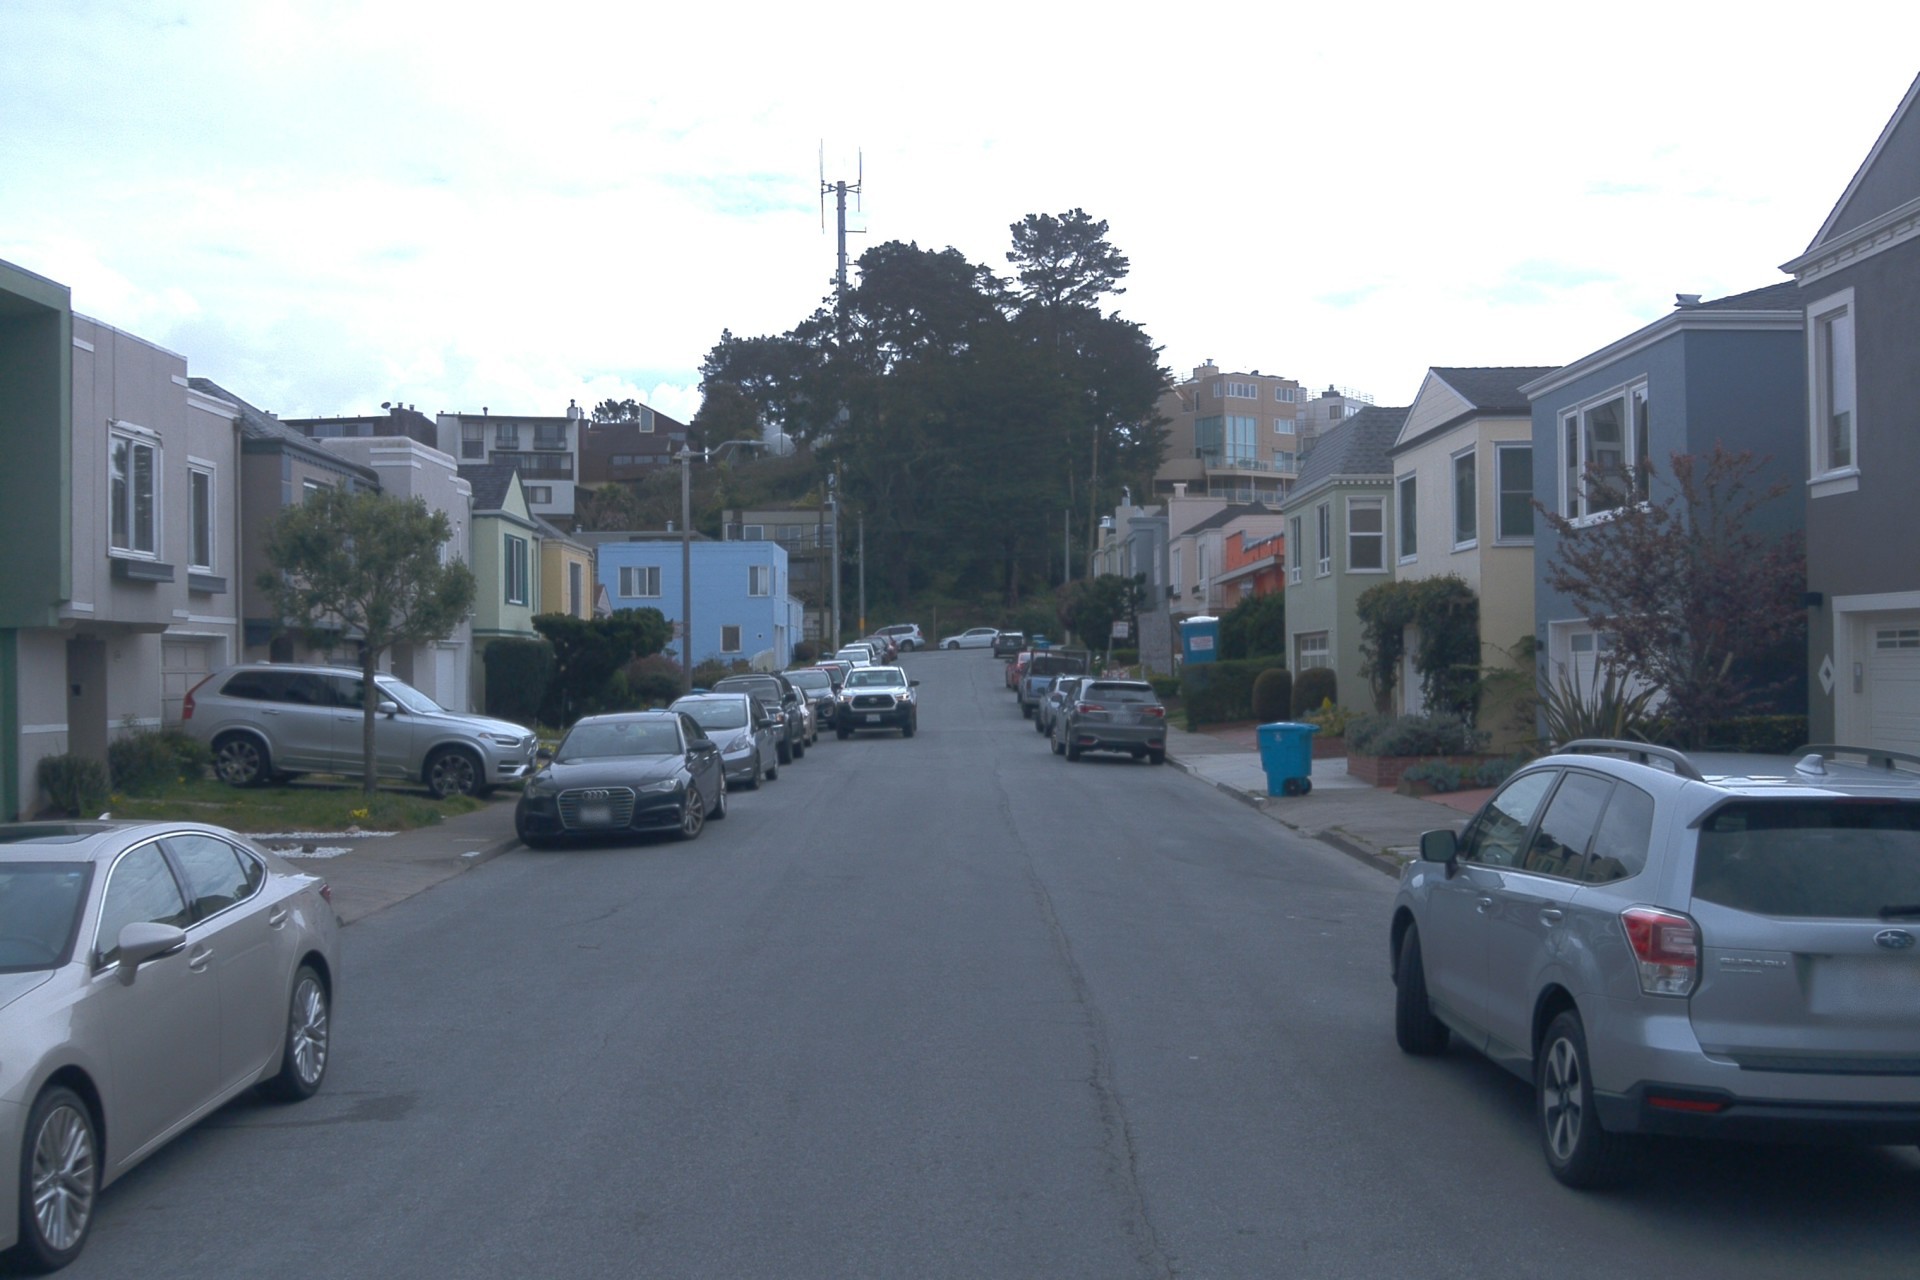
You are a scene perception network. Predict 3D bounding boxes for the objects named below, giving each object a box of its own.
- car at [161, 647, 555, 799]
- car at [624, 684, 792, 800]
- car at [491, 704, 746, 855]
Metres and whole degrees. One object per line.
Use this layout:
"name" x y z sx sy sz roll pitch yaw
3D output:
"car" -8.427 1.134 29.335 4.989 2.070 2.050 0 0 0
"car" -3.937 1.564 33.039 2.058 1.660 4.209 0 0 2
"car" -3.922 1.574 24.700 2.204 1.490 4.921 0 0 0
